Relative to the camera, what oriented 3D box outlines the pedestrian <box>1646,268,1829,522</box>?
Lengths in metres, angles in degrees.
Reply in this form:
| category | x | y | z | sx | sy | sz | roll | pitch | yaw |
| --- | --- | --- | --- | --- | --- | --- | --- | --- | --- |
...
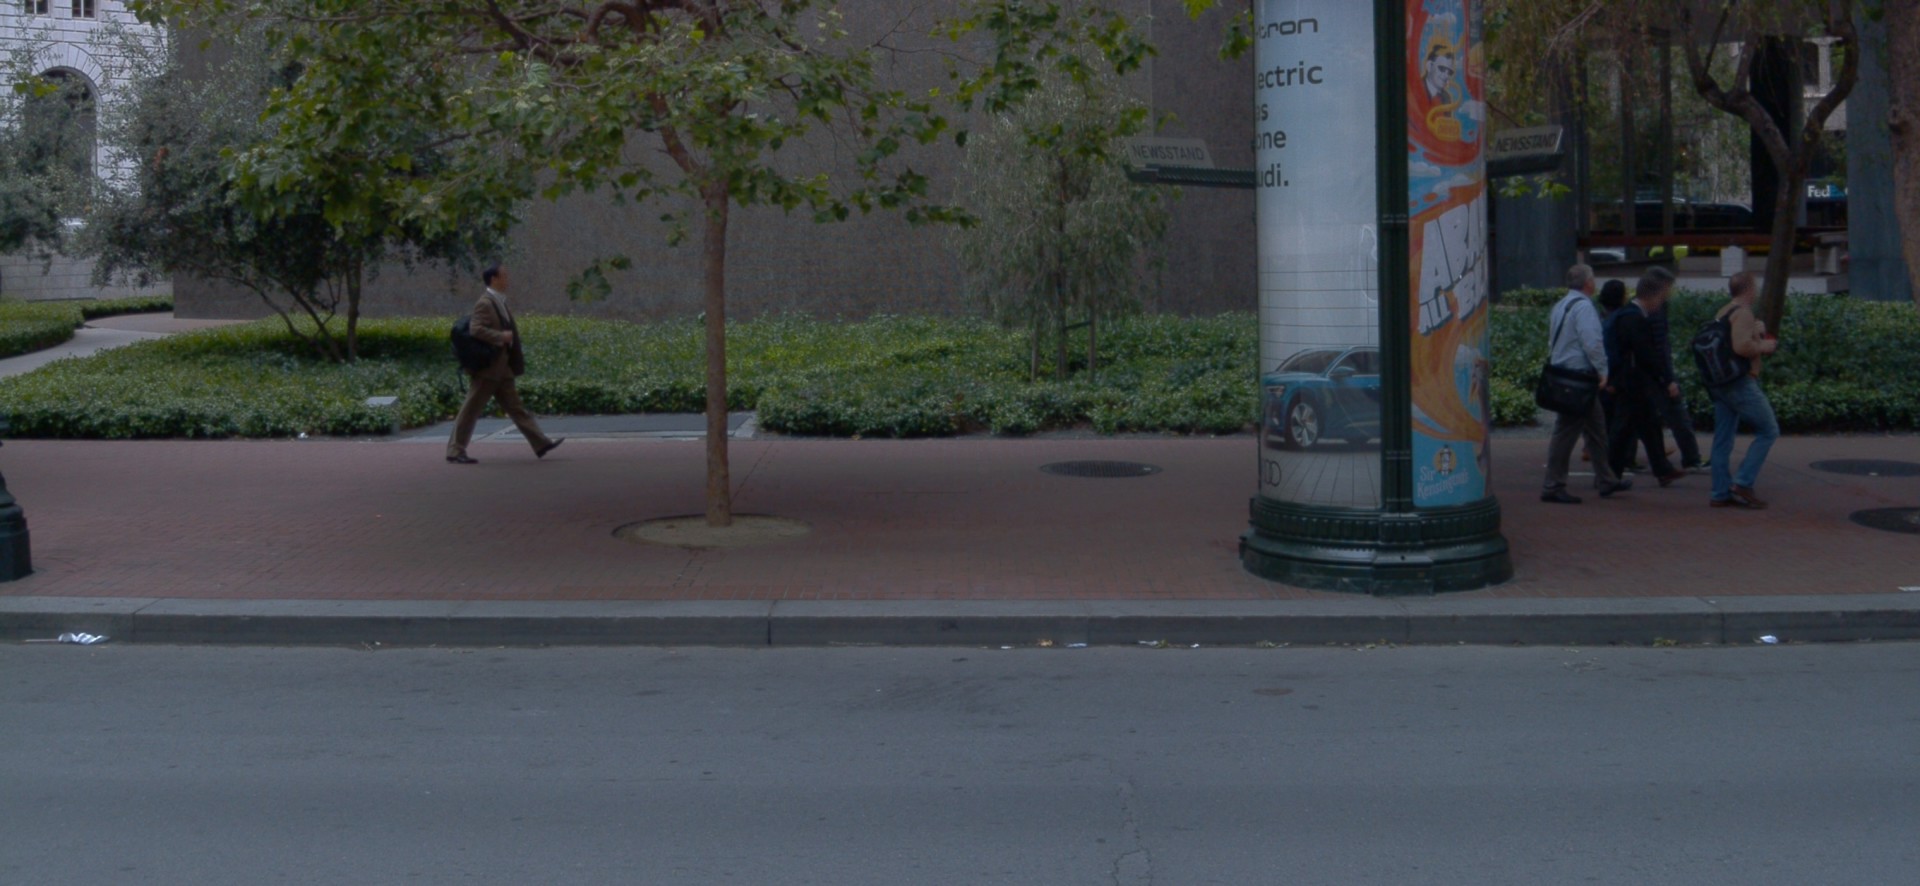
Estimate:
| category | x | y | z | sx | sy | sz | roll | pitch | yaw |
| --- | --- | --- | --- | --- | --- | --- | --- | --- | --- |
| pedestrian | 5.784 | -0.380 | 15.459 | 1.076 | 1.827 | 0.737 | 0 | 2 | -1 |

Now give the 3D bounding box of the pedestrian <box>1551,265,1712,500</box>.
| category | x | y | z | sx | sy | sz | roll | pitch | yaw |
| --- | --- | --- | --- | --- | --- | --- | --- | --- | --- |
| pedestrian | 5.332 | -0.505 | 16.503 | 1.012 | 1.797 | 0.887 | 0 | 2 | 2 |

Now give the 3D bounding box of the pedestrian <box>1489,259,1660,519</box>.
| category | x | y | z | sx | sy | sz | roll | pitch | yaw |
| --- | --- | --- | --- | --- | --- | --- | --- | --- | --- |
| pedestrian | 4.672 | -0.444 | 15.817 | 1.013 | 1.897 | 0.997 | 0 | 2 | 0 |

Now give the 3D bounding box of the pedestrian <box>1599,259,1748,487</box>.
| category | x | y | z | sx | sy | sz | roll | pitch | yaw |
| --- | --- | --- | --- | --- | --- | --- | --- | --- | --- |
| pedestrian | 5.921 | -0.607 | 17.242 | 0.935 | 1.827 | 0.894 | 0 | 2 | 1 |

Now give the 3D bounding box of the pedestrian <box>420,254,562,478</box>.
| category | x | y | z | sx | sy | sz | roll | pitch | yaw |
| --- | --- | --- | --- | --- | --- | --- | --- | --- | --- |
| pedestrian | -4.101 | -0.708 | 18.196 | 1.098 | 1.877 | 1.032 | 0 | 2 | -7 |

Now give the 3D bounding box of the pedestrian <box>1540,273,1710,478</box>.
| category | x | y | z | sx | sy | sz | roll | pitch | yaw |
| --- | --- | --- | --- | --- | --- | --- | --- | --- | --- |
| pedestrian | 5.734 | -0.607 | 17.914 | 1.172 | 1.697 | 0.931 | 0 | 2 | 1 |
